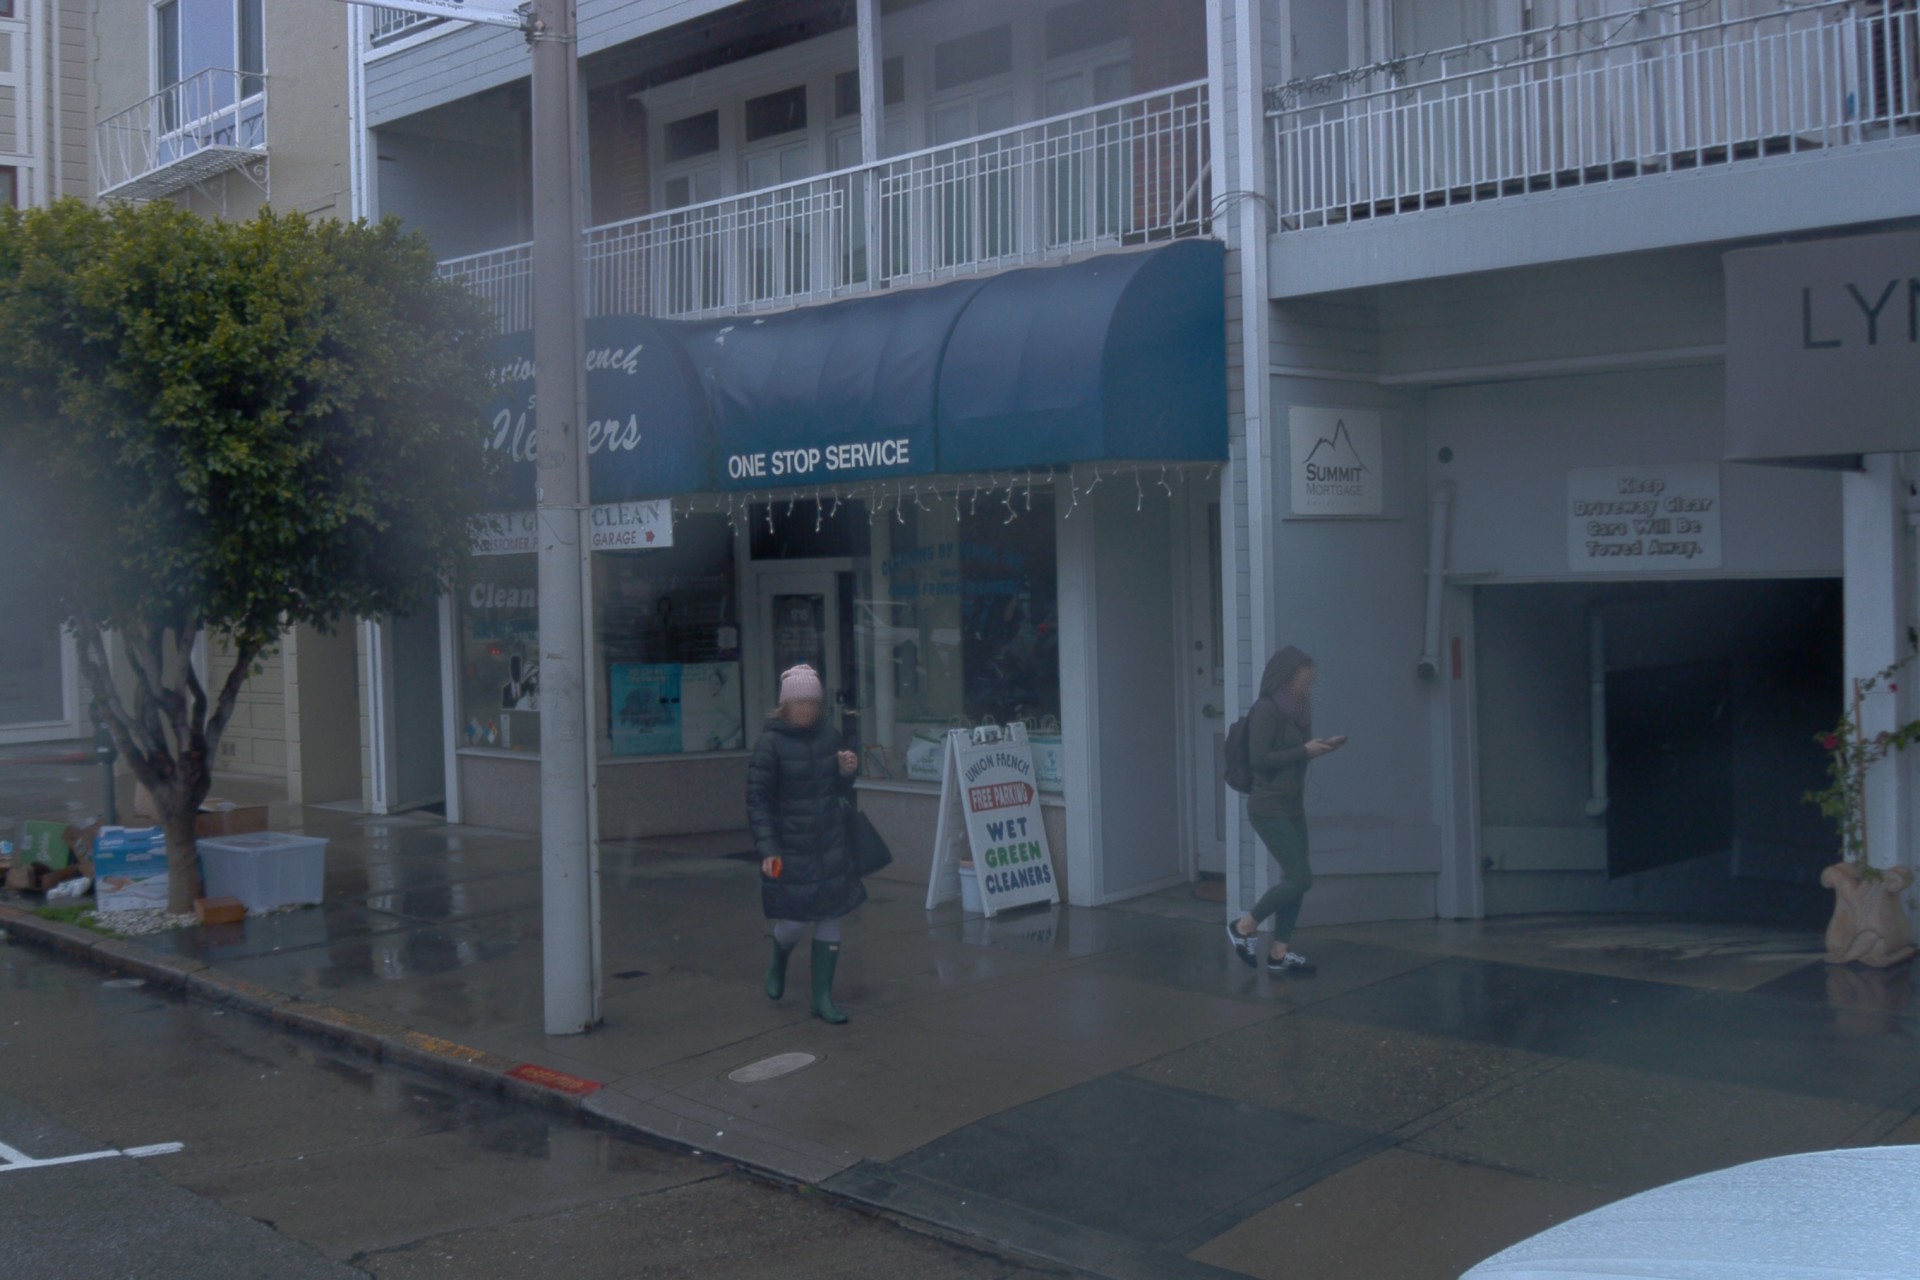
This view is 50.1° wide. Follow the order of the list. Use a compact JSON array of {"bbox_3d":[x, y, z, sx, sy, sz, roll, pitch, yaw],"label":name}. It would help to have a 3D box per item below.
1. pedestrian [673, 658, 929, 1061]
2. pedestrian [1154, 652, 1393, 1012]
[{"bbox_3d":[-0.758,0.970,9.608,0.914,1.750,0.930,0,0,-24],"label":"pedestrian"},{"bbox_3d":[1.575,0.915,10.337,0.962,1.700,0.677,1,1,38],"label":"pedestrian"}]
